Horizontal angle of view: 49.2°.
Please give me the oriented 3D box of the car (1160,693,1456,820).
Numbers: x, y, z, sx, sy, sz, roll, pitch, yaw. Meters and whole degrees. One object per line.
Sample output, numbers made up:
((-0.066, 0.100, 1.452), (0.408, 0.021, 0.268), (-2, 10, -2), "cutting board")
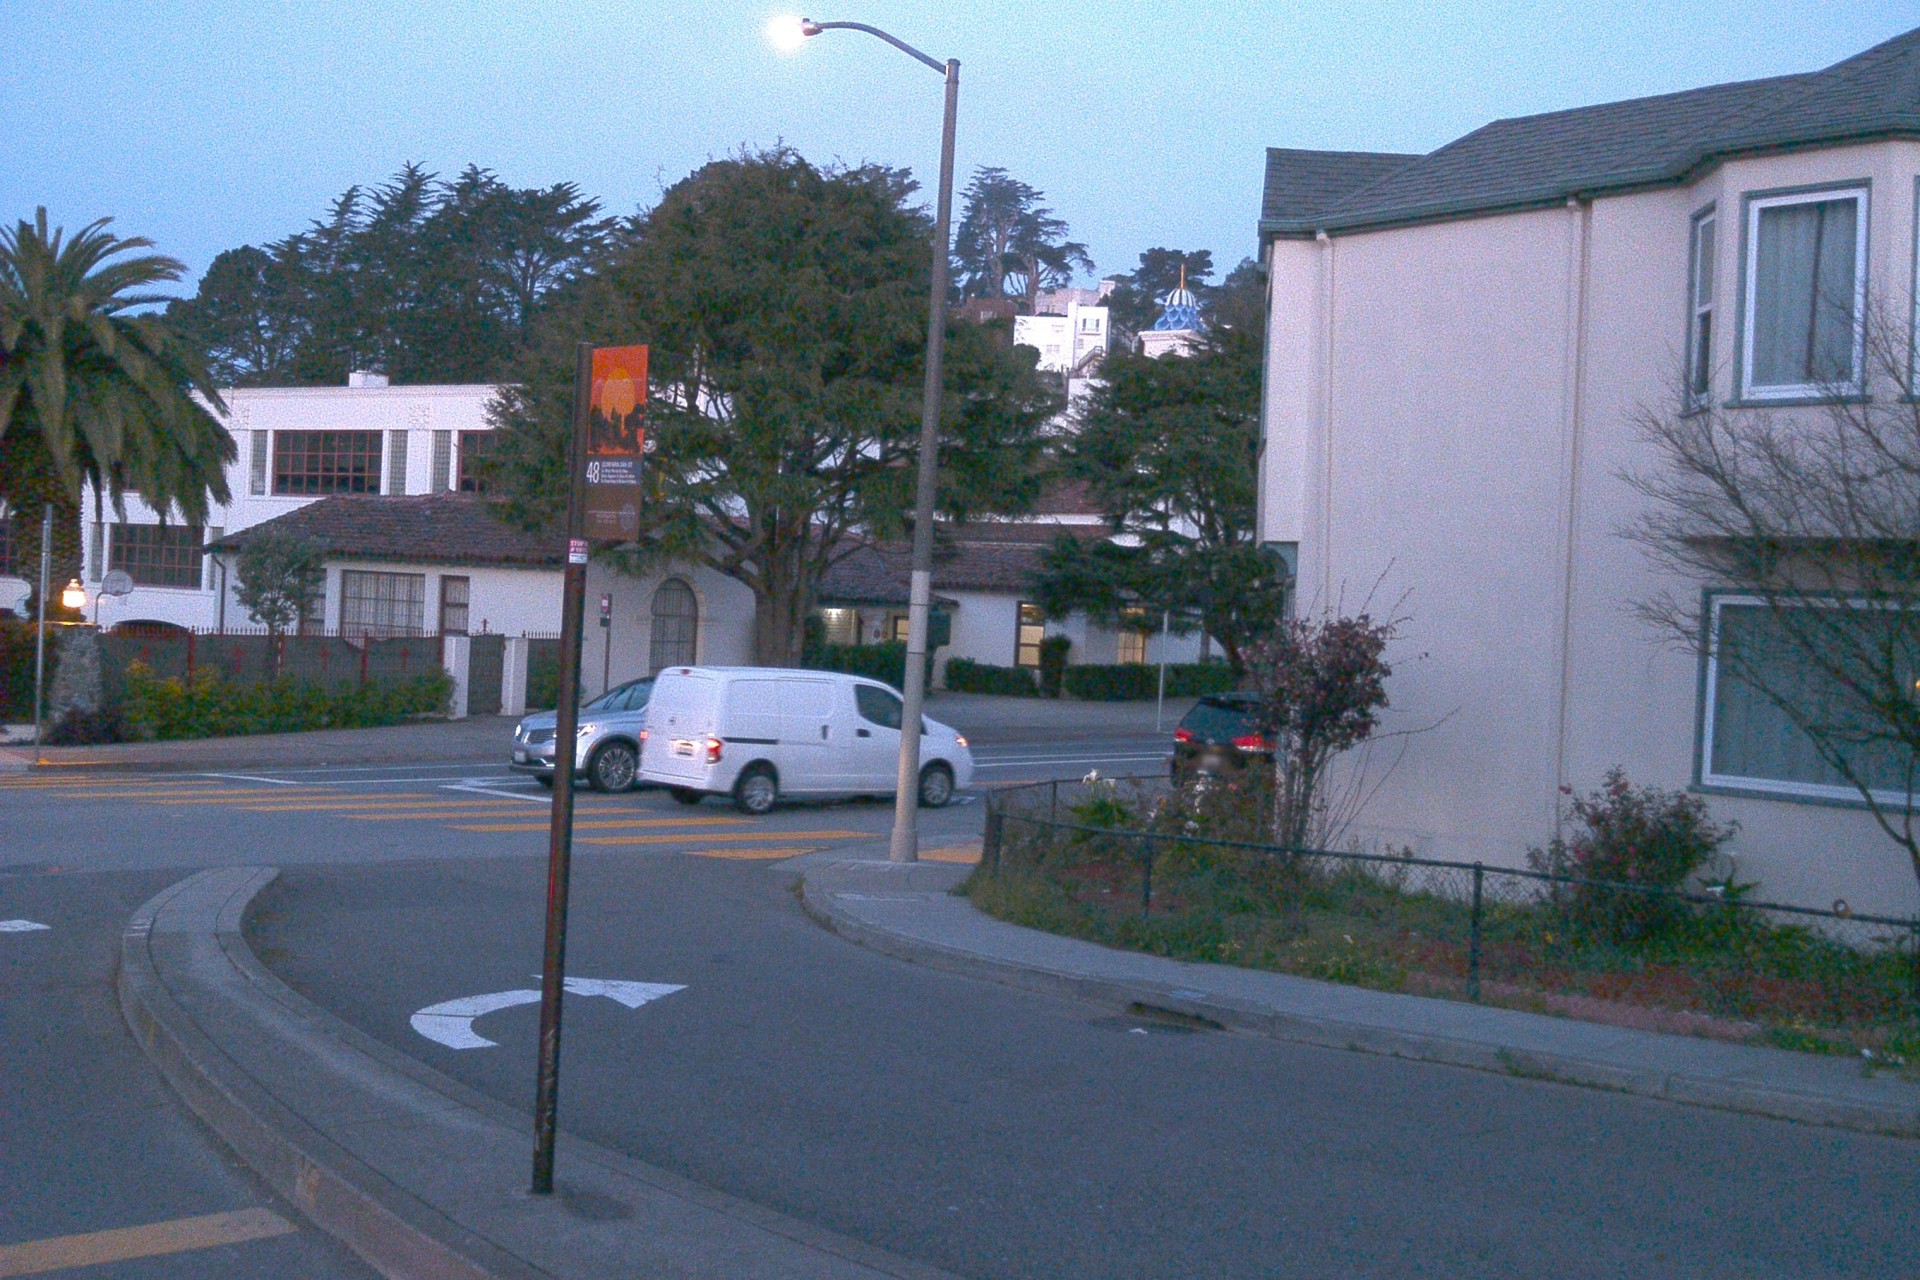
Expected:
((5.027, 1.621, 30.201), (3.819, 1.660, 2.058), (1, 0, -34), "car")

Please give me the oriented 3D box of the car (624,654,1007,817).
((-1.878, 1.216, 28.282), (4.816, 2.000, 2.113), (1, 0, -40), "car")

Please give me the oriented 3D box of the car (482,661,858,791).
((-4.179, 1.198, 30.665), (5.027, 1.730, 2.150), (1, 0, -39), "car")
